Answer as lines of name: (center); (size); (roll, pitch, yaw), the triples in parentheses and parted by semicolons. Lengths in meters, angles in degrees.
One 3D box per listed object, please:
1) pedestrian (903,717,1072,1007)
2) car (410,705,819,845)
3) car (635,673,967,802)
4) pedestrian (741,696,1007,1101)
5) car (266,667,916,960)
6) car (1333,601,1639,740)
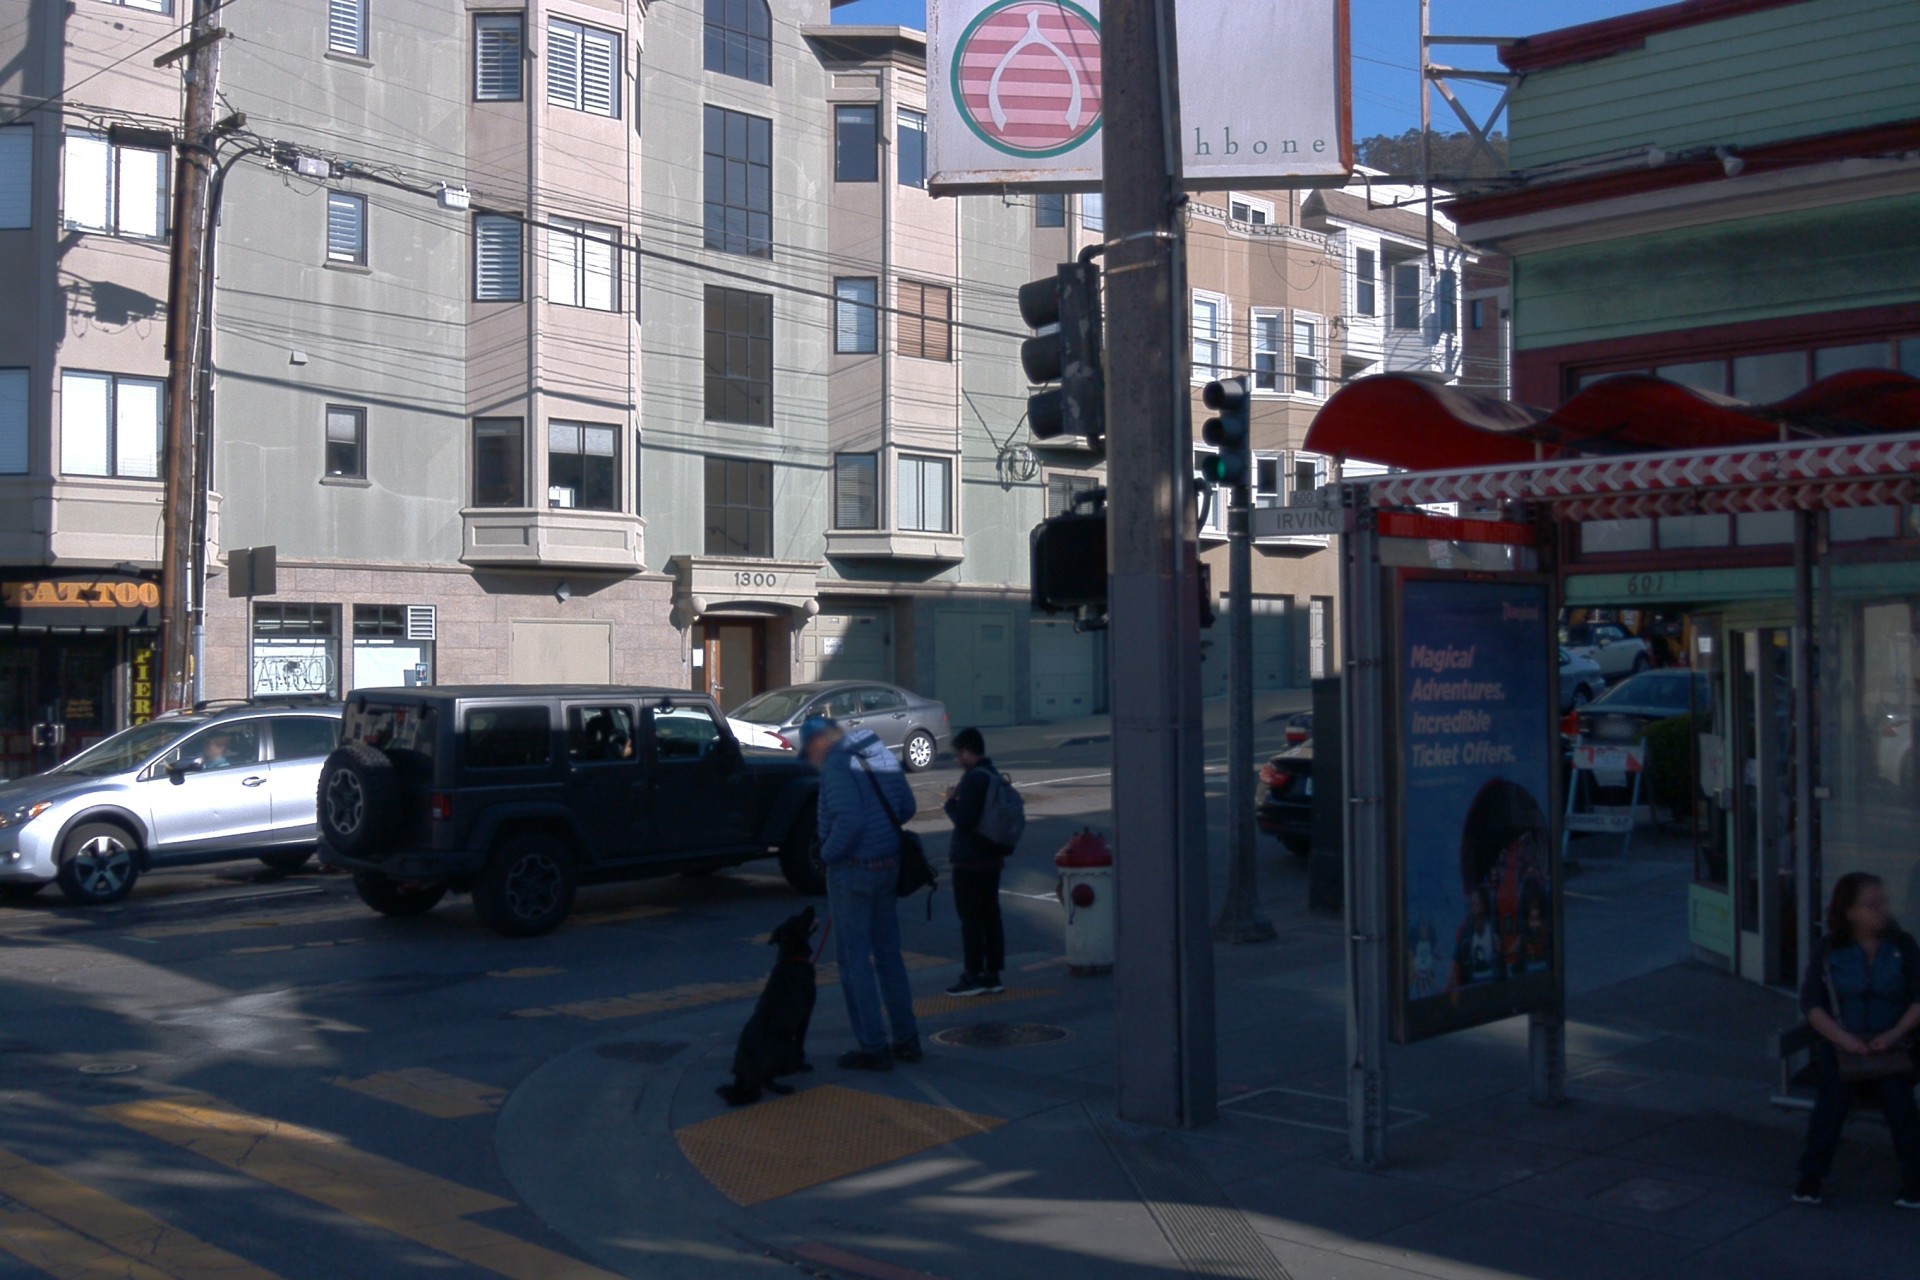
pedestrian: (0.167, 1.346, 13.044); (0.687, 1.700, 0.778); (0, 0, -43)
car: (-3.945, 1.495, 24.310); (4.248, 1.390, 2.004); (1, 0, -41)
car: (-2.217, 1.329, 30.143); (2.102, 1.670, 4.524); (0, 0, 43)
pedestrian: (-0.425, 1.224, 10.427); (0.894, 1.860, 0.955); (1, 0, 42)
car: (-2.808, 1.223, 16.917); (2.071, 1.990, 4.910); (1, 0, 42)
car: (8.354, 0.462, 33.036); (5.034, 2.030, 2.283); (1, 0, -43)
